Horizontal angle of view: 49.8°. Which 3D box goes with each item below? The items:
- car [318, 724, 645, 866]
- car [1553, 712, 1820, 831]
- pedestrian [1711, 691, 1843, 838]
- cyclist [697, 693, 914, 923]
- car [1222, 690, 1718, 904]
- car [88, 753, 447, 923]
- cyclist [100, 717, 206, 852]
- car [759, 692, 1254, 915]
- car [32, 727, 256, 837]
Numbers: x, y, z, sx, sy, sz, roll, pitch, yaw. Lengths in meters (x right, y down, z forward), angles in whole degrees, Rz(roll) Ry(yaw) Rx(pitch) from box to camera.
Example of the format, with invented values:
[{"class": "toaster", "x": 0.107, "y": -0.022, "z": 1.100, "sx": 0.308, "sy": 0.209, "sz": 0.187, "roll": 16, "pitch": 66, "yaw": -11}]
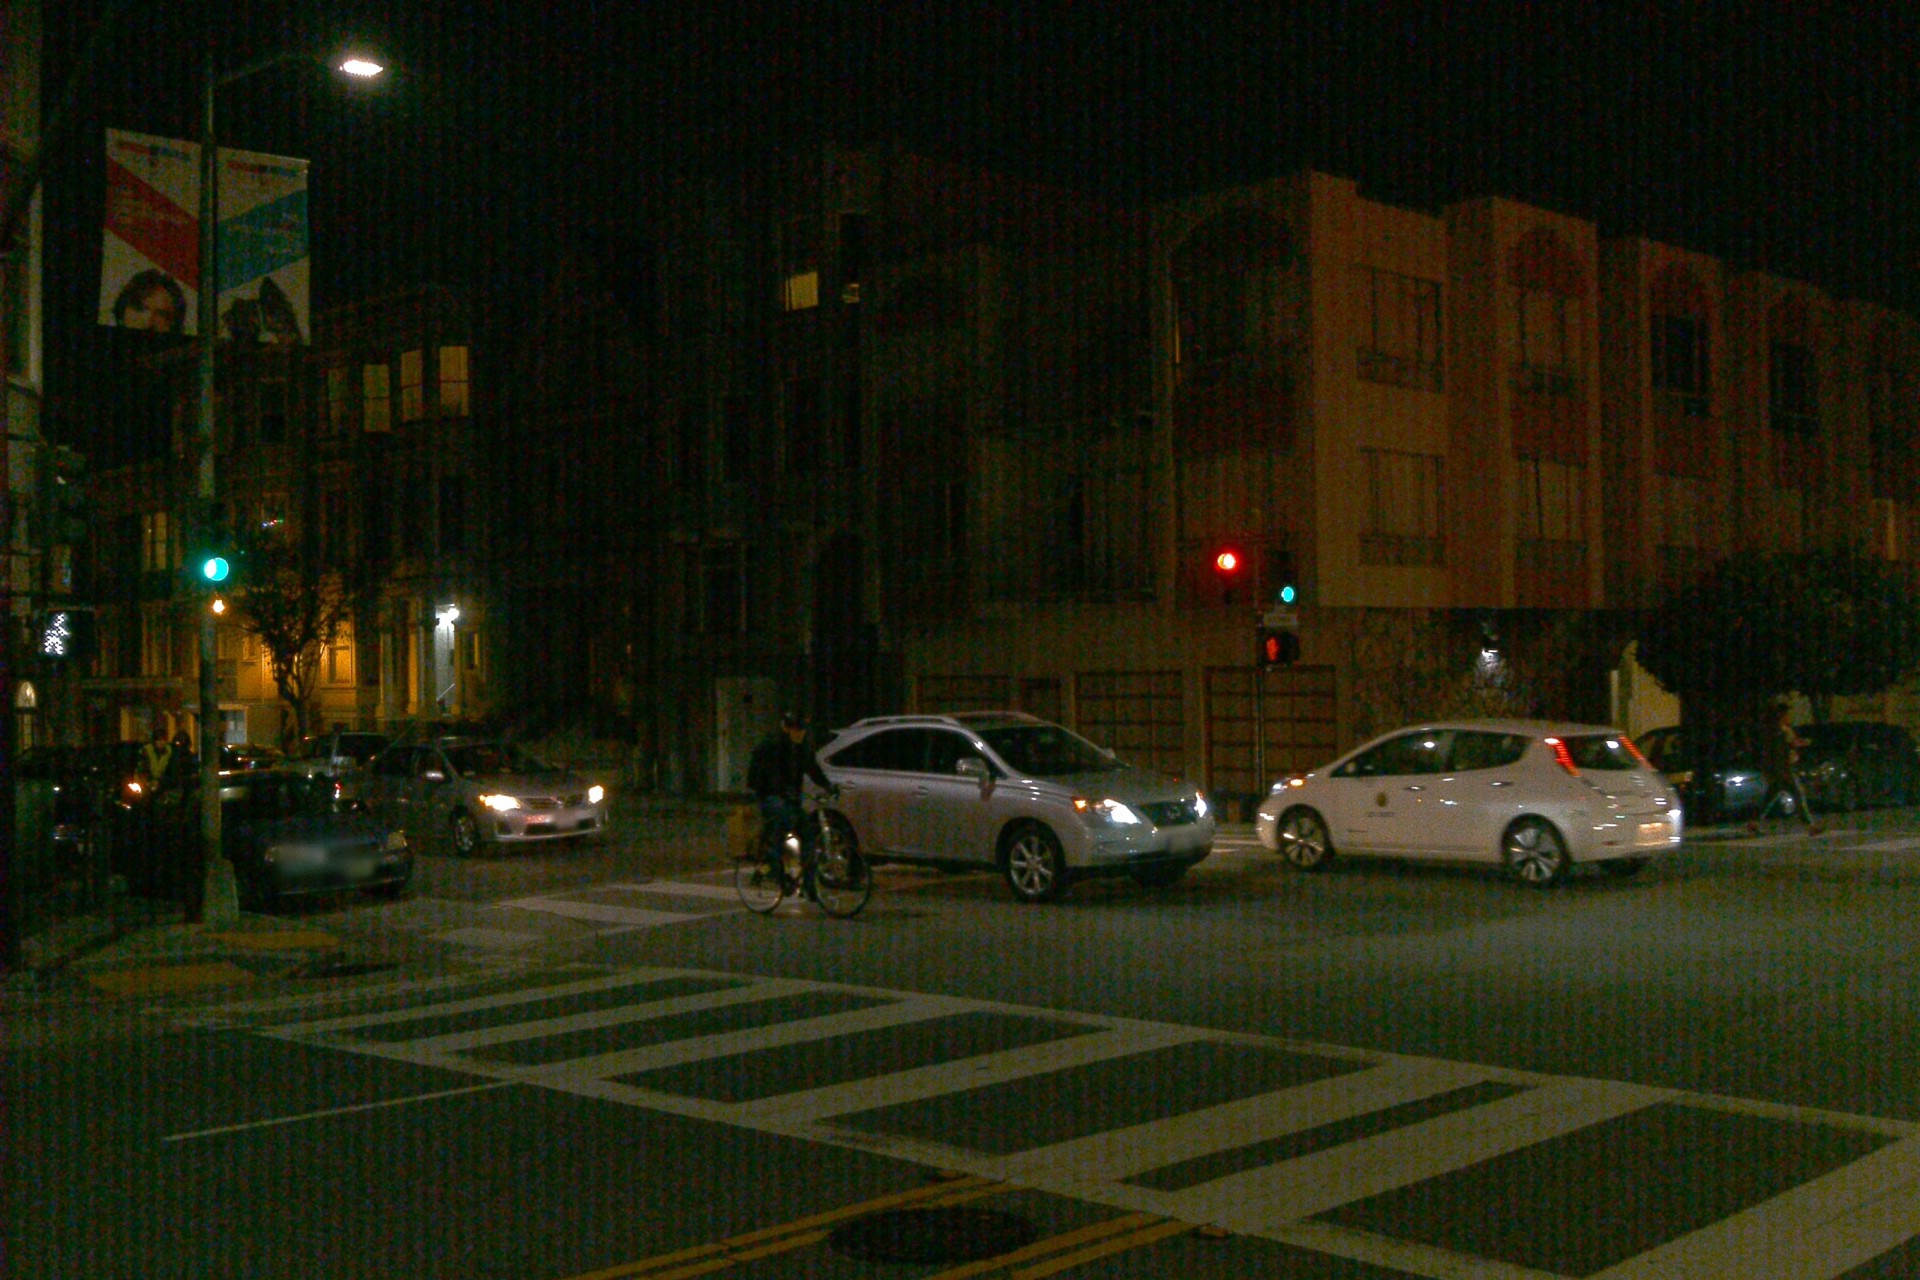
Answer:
[{"class": "car", "x": -6.323, "y": 1.945, "z": 27.012, "sx": 2.125, "sy": 1.450, "sz": 4.459, "roll": 1, "pitch": 0, "yaw": -44}, {"class": "car", "x": 10.599, "y": 1.836, "z": 29.958, "sx": 1.967, "sy": 1.430, "sz": 4.633, "roll": 1, "pitch": 0, "yaw": 42}, {"class": "pedestrian", "x": 9.929, "y": 1.490, "z": 25.130, "sx": 0.935, "sy": 1.690, "sz": 1.175, "roll": 1, "pitch": 0, "yaw": -43}, {"class": "cyclist", "x": -1.394, "y": 1.442, "z": 18.418, "sx": 1.925, "sy": 1.870, "sz": 0.832, "roll": 1, "pitch": 0, "yaw": 45}, {"class": "car", "x": 4.950, "y": 1.441, "z": 20.503, "sx": 1.960, "sy": 1.720, "sz": 4.390, "roll": 1, "pitch": 0, "yaw": -43}, {"class": "car", "x": -7.498, "y": 2.027, "z": 22.146, "sx": 1.946, "sy": 1.350, "sz": 4.278, "roll": 1, "pitch": 0, "yaw": -44}, {"class": "cyclist", "x": -11.356, "y": 2.004, "z": 29.047, "sx": 0.771, "sy": 1.750, "sz": 1.769, "roll": 1, "pitch": 0, "yaw": -42}, {"class": "car", "x": 0.352, "y": 1.472, "z": 20.241, "sx": 2.139, "sy": 1.760, "sz": 4.613, "roll": 1, "pitch": 0, "yaw": -45}, {"class": "car", "x": -13.822, "y": 2.340, "z": 34.861, "sx": 2.021, "sy": 1.480, "sz": 4.494, "roll": 1, "pitch": 0, "yaw": -43}]
